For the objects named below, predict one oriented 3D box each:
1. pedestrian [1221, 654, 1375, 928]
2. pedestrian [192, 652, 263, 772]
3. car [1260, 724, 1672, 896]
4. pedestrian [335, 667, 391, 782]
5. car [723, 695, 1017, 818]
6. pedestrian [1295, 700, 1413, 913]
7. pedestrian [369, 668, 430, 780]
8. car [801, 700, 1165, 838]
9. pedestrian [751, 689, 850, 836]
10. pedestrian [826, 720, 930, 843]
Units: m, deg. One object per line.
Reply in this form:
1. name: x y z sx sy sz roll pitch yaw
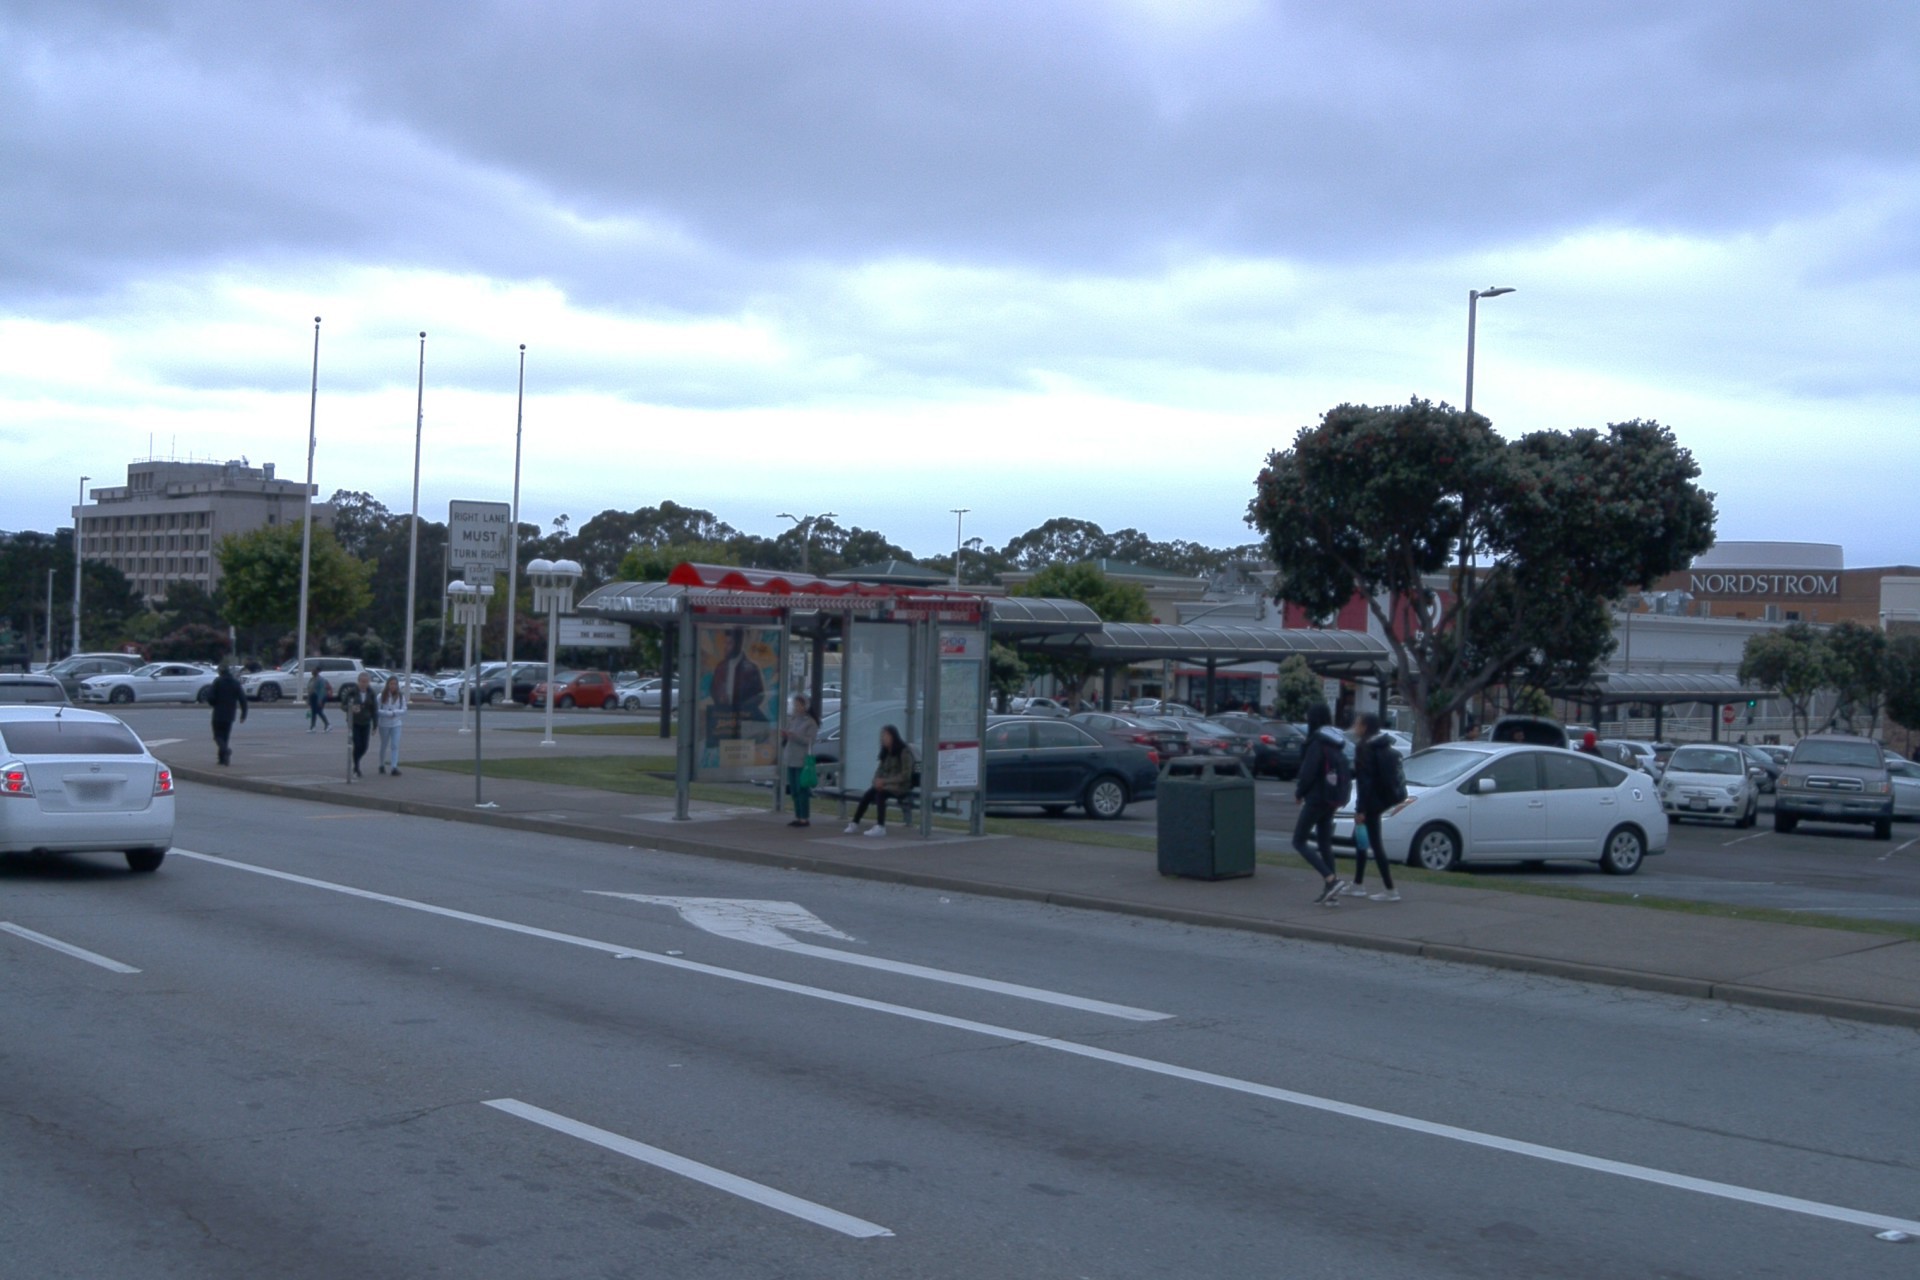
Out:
1. pedestrian: 2.849 1.225 17.308 0.900 2.200 0.967 0 0 41
2. pedestrian: -12.092 1.170 33.933 0.814 1.926 0.930 0 0 -42
3. car: 5.915 1.910 24.023 4.400 1.670 1.973 0 0 -25
4. pedestrian: -9.214 1.284 31.711 0.629 1.720 0.887 0 0 -30
5. car: -1.427 1.773 32.228 4.146 1.700 2.032 0 0 -22
6. pedestrian: 3.373 1.395 17.590 0.737 1.730 0.738 0 0 37
7. pedestrian: -8.790 1.296 32.208 0.709 1.700 0.826 0 0 -32
8. car: 0.330 1.804 29.797 4.768 1.700 2.204 0 0 -25
9. pedestrian: -1.862 1.410 23.988 0.827 1.630 0.814 0 0 -40
10. pedestrian: -0.933 1.587 23.338 0.836 1.310 0.838 0 0 -41
